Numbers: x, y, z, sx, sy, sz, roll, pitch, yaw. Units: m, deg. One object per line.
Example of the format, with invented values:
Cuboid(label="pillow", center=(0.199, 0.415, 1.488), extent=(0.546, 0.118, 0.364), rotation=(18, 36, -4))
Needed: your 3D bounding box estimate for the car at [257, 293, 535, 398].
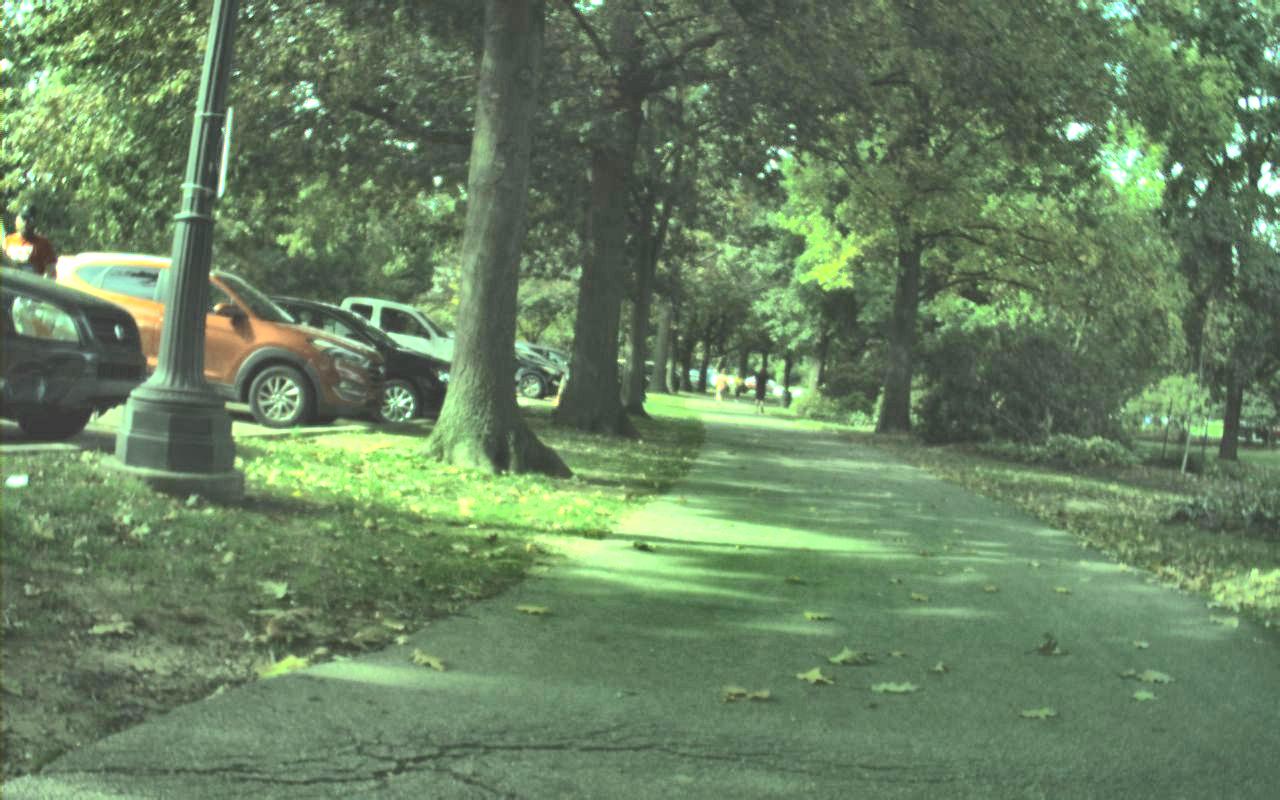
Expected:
Cuboid(label="car", center=(-4.234, -0.936, 21.753), extent=(4.577, 1.724, 2.010), rotation=(1, 1, 3))

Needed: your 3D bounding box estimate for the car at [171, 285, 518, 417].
Cuboid(label="car", center=(-3.916, -0.642, 16.496), extent=(4.408, 1.632, 1.958), rotation=(0, 1, 1))

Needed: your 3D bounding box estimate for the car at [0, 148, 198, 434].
Cuboid(label="car", center=(-5.352, -0.648, 7.418), extent=(4.436, 1.636, 1.974), rotation=(0, 1, -3))

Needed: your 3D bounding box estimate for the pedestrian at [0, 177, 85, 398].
Cuboid(label="pedestrian", center=(-5.322, -0.934, 9.862), extent=(0.807, 1.858, 0.802), rotation=(0, 0, -17))

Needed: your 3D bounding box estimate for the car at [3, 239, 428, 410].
Cuboid(label="car", center=(-4.807, -0.798, 13.518), extent=(4.649, 1.719, 2.003), rotation=(0, 1, 0))
